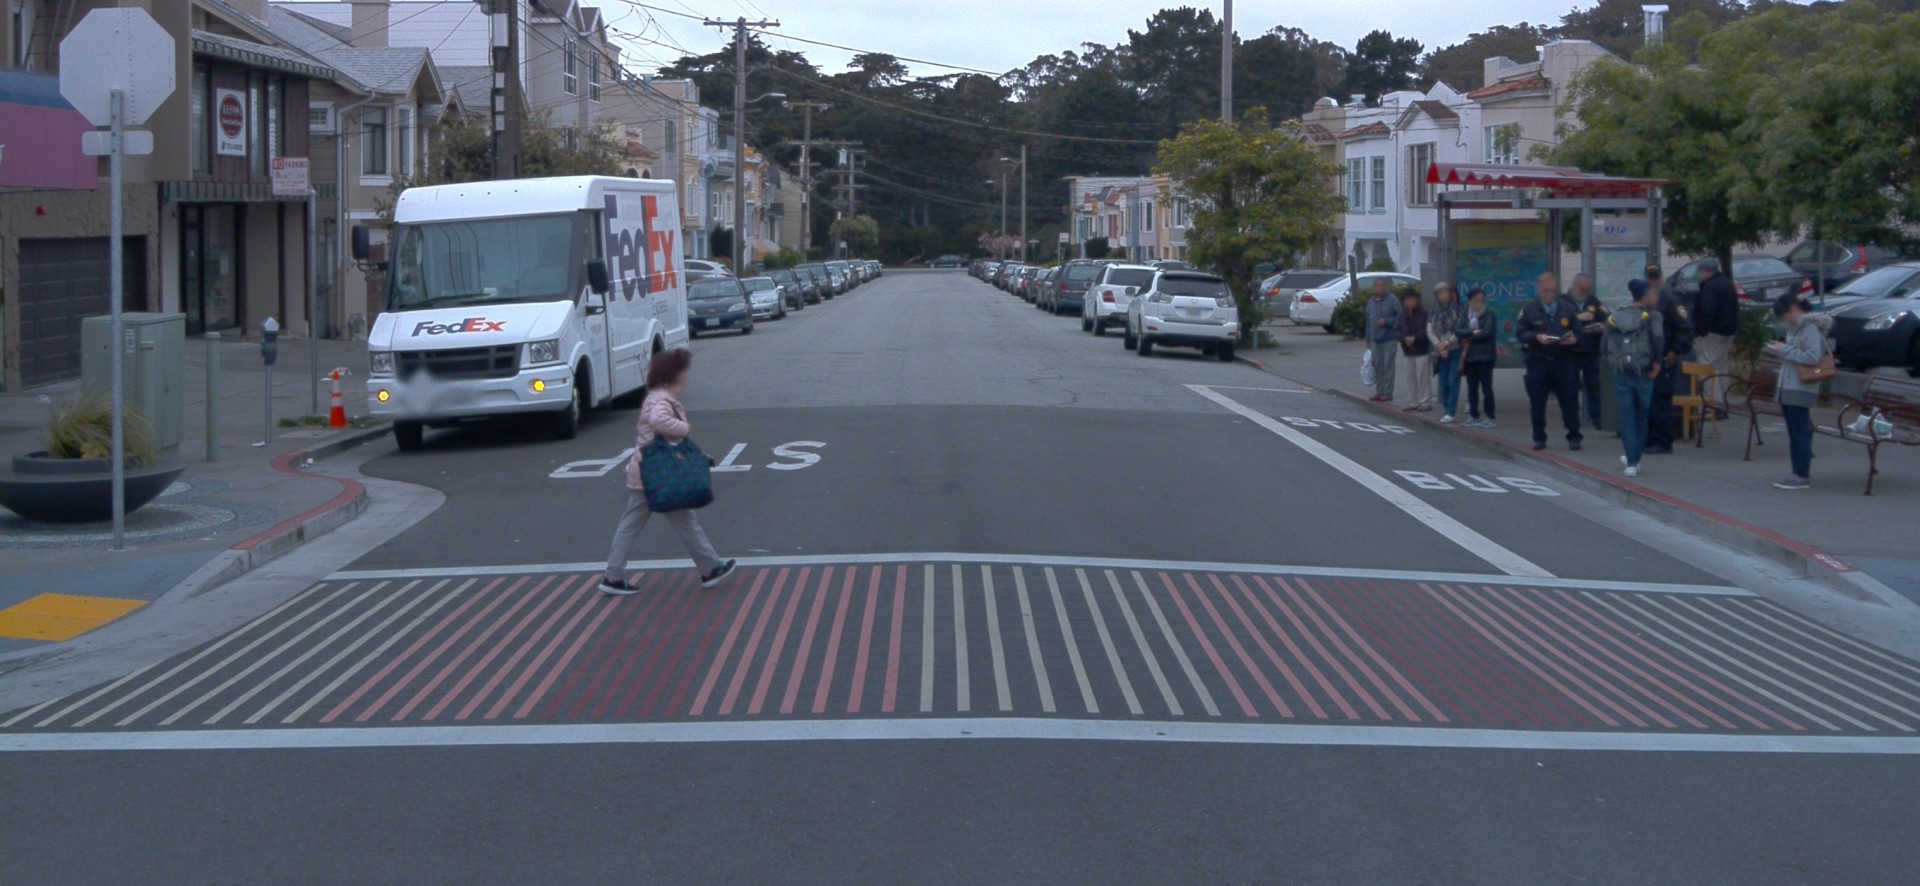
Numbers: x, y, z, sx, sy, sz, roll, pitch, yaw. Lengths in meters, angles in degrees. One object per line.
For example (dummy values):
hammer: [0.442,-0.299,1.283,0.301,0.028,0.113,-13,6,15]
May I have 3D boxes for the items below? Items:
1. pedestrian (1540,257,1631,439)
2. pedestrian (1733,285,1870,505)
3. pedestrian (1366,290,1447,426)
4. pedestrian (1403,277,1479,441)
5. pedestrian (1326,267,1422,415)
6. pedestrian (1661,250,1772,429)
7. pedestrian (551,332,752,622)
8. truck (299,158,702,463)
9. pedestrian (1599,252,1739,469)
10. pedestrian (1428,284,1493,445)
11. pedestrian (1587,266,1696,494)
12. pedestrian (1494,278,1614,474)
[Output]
pedestrian: [6.784,-1.058,22.402,0.934,1.906,0.850,0,2,16]
pedestrian: [6.803,-0.415,16.698,0.665,1.687,0.877,-1,2,-10]
pedestrian: [5.518,-1.064,25.476,0.713,1.607,0.683,-2,2,-36]
pedestrian: [5.542,-0.987,23.741,0.758,1.827,0.686,0,2,22]
pedestrian: [5.485,-1.368,27.318,0.924,1.876,0.871,2,3,42]
pedestrian: [8.401,-1.167,22.930,0.919,1.932,0.830,0,2,-2]
pedestrian: [-1.756,0.151,11.684,0.855,1.476,0.909,-2,3,-29]
truck: [-5.038,-1.740,24.206,2.687,3.011,7.391,0,6,3]
pedestrian: [6.651,-0.806,19.326,0.954,1.926,0.998,1,3,39]
pedestrian: [5.591,-0.893,23.014,0.683,1.727,0.713,0,2,15]
pedestrian: [5.931,-0.571,17.936,0.874,1.907,0.667,0,2,21]
pedestrian: [5.786,-0.676,20.138,0.986,1.838,0.814,0,2,5]
